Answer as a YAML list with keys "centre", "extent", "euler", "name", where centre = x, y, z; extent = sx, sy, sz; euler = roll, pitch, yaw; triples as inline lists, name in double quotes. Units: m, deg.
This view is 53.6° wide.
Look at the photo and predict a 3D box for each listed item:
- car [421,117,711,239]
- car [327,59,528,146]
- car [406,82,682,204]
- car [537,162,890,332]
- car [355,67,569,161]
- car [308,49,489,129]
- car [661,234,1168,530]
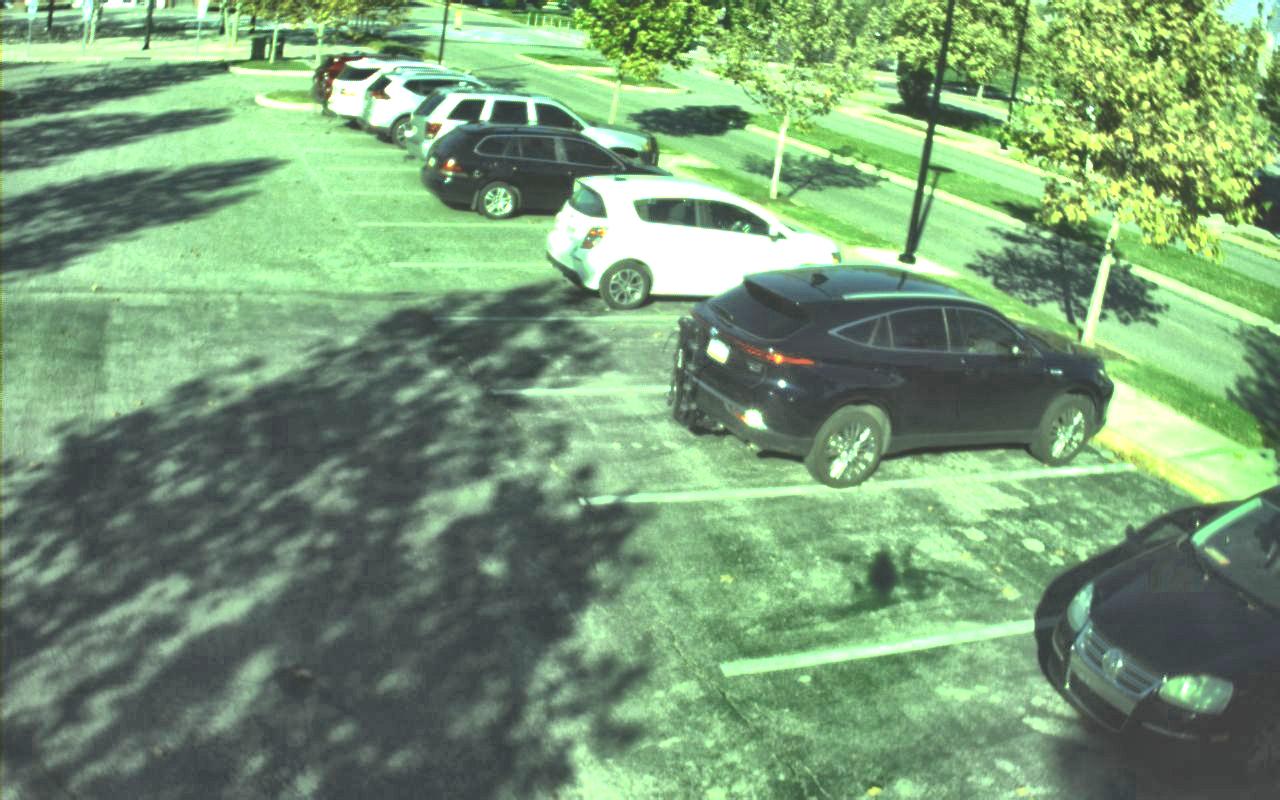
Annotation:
- centre: [-1.263, -3.796, 20.976]
  extent: [4.490, 1.565, 1.935]
  euler: [-8, 18, -21]
  name: "car"
- centre: [-5.240, -7.288, 29.852]
  extent: [4.606, 1.757, 2.001]
  euler: [-8, 18, -22]
  name: "car"
- centre: [-1.835, -4.893, 23.313]
  extent: [4.806, 1.876, 2.062]
  euler: [-7, 17, -19]
  name: "car"
- centre: [0.982, -2.118, 16.535]
  extent: [4.246, 1.648, 1.909]
  euler: [-7, 17, -20]
  name: "car"
- centre: [-4.059, -6.479, 27.736]
  extent: [4.502, 1.753, 1.973]
  euler: [-8, 17, -21]
  name: "car"
- centre: [-6.468, -8.288, 32.320]
  extent: [4.519, 1.771, 2.006]
  euler: [-8, 18, -22]
  name: "car"
- centre: [2.701, -0.372, 11.619]
  extent: [4.604, 1.754, 1.994]
  euler: [-9, 18, -24]
  name: "car"
